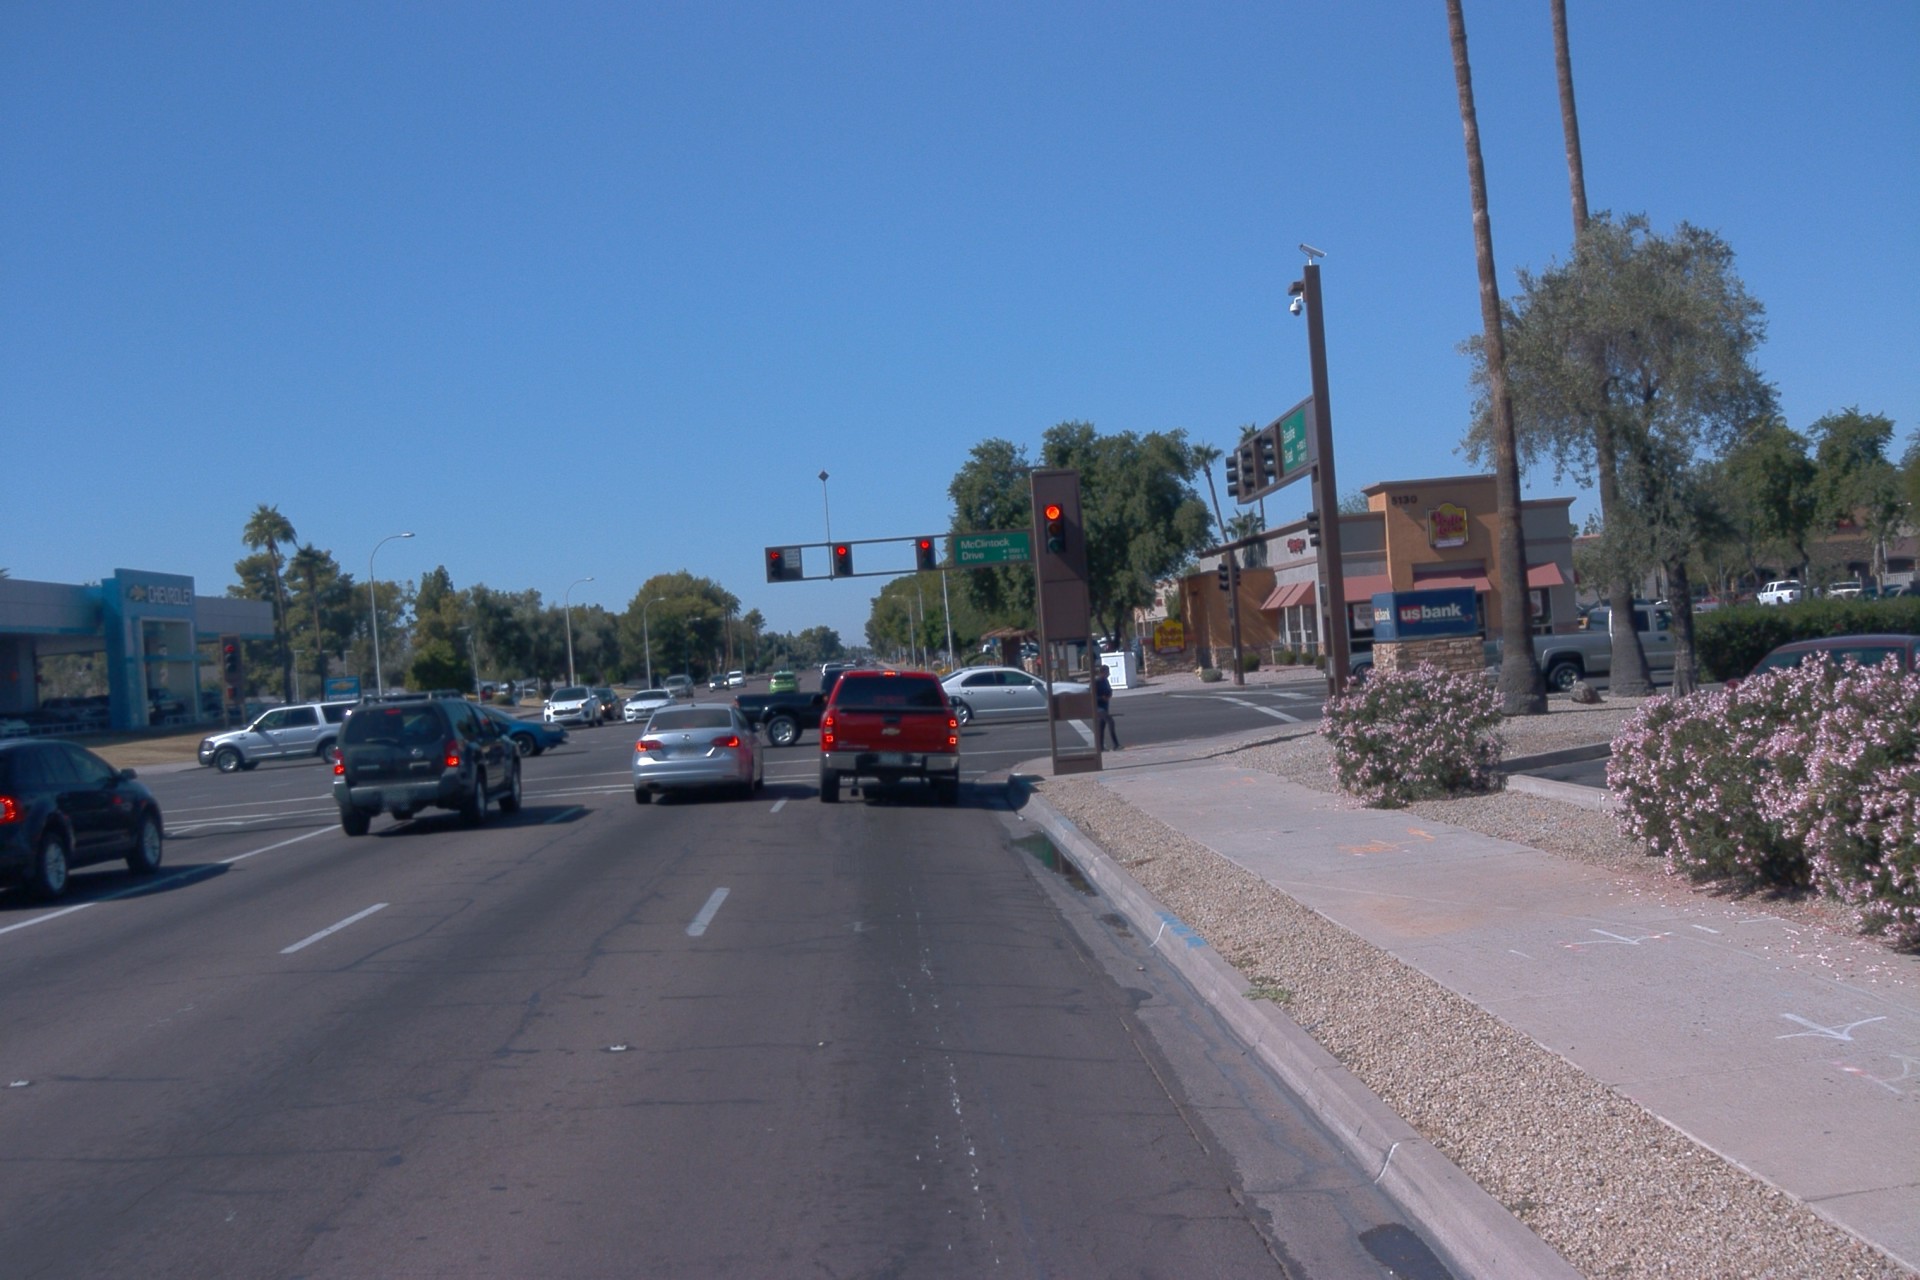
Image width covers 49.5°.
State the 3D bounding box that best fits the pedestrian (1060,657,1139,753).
[{"bbox_3d":[2.554,1.183,38.029,1.172,1.714,0.807,0,-1,36],"label":"pedestrian"}]

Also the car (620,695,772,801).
[{"bbox_3d":[-3.993,1.613,32.177,1.920,1.450,4.335,1,-1,-2],"label":"car"}]

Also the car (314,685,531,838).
[{"bbox_3d":[-7.478,1.631,29.417,1.998,1.951,4.416,1,-1,-1],"label":"car"}]

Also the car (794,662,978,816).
[{"bbox_3d":[-1.070,1.419,31.826,2.538,2.120,5.758,1,-1,-1],"label":"car"}]
